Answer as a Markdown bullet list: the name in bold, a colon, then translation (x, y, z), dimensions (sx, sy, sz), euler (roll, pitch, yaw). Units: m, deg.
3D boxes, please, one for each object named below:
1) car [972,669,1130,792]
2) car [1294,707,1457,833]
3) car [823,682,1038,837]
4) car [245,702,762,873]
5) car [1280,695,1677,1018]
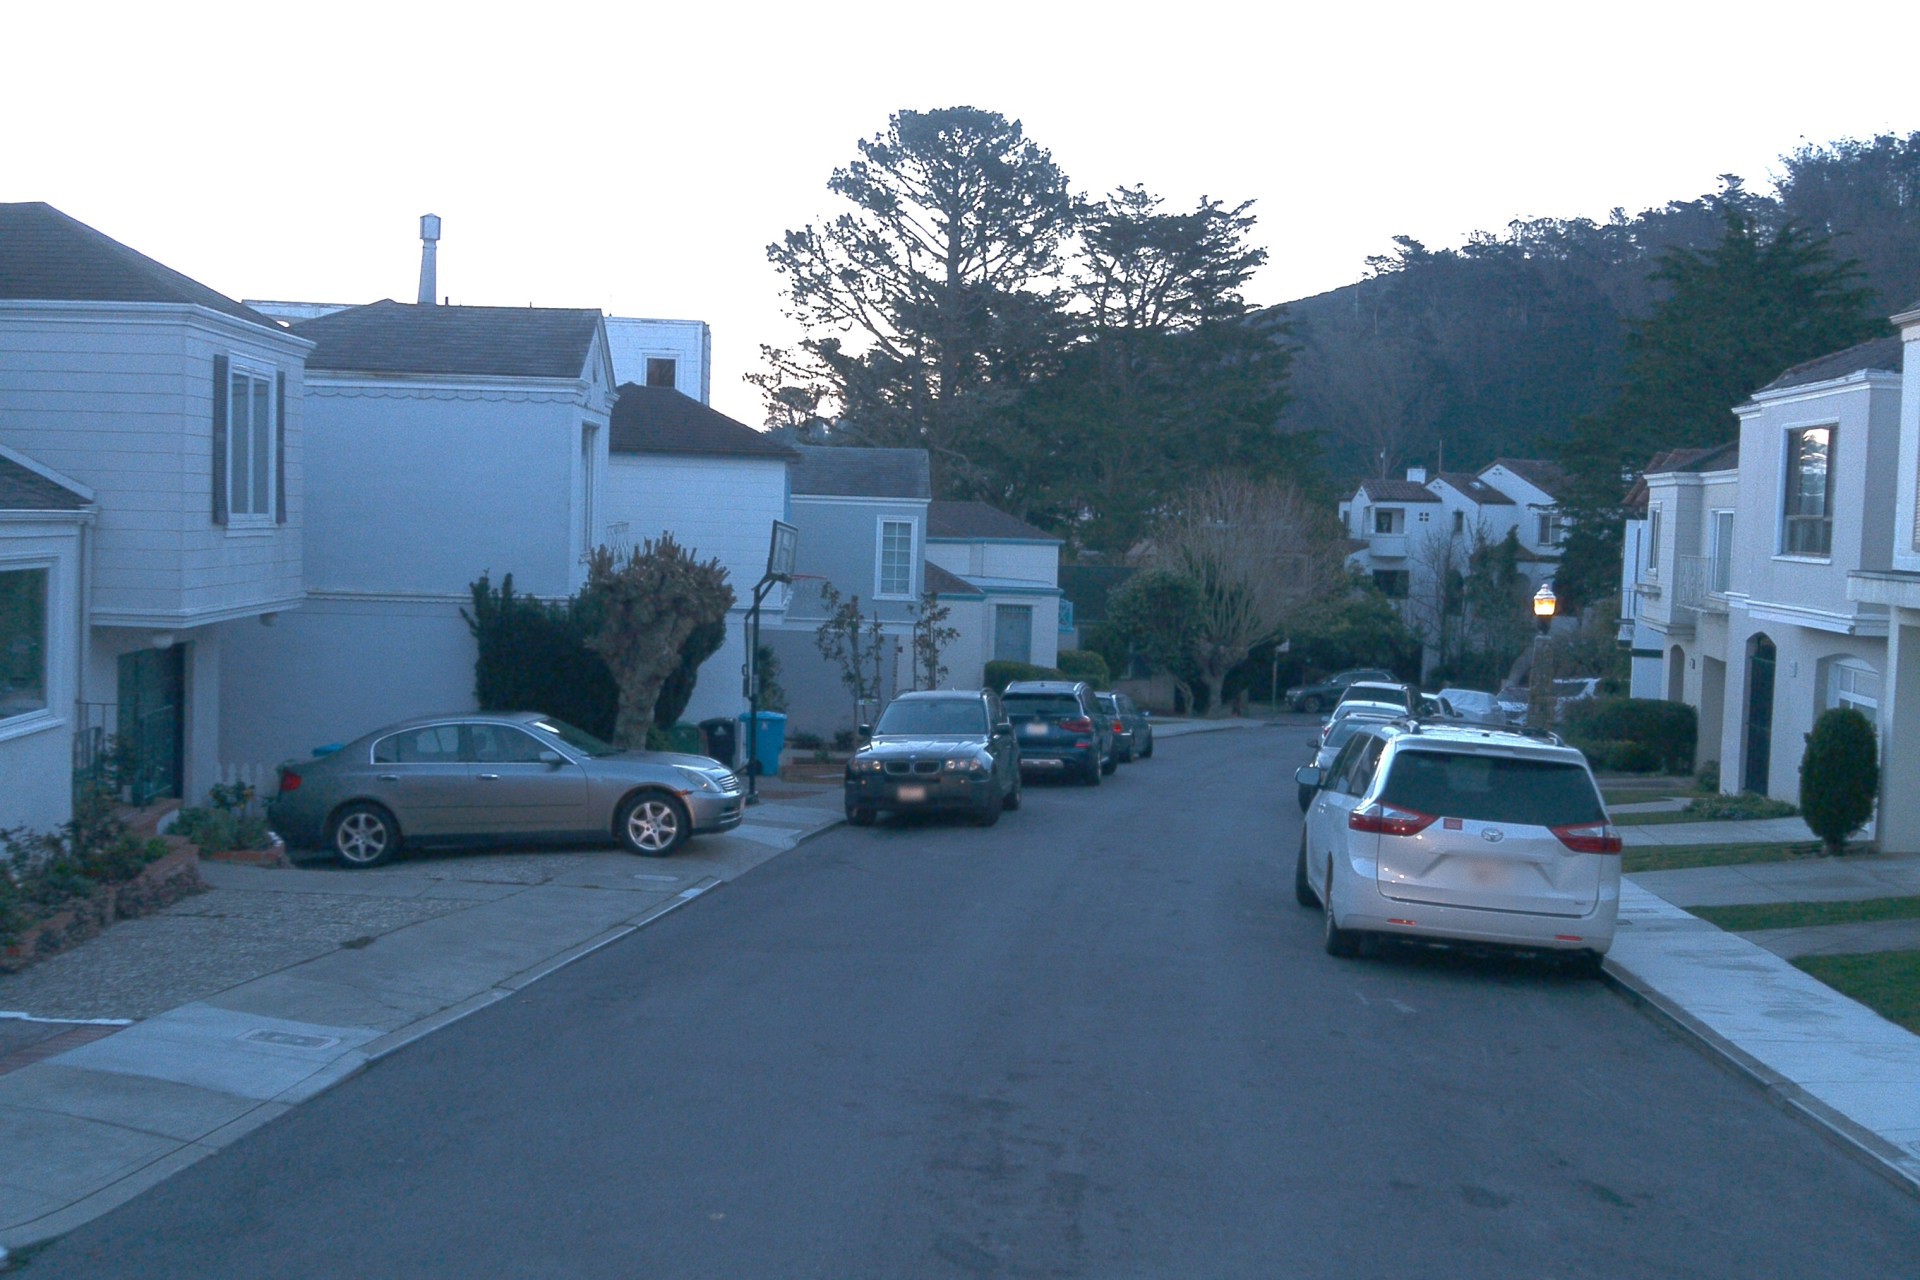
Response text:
- **car**: translation (1.604, 1.439, 34.658), dimensions (2.210, 1.870, 4.683), euler (0, 0, 8)
- **car**: translation (6.029, 1.800, 29.967), dimensions (2.125, 1.520, 4.899), euler (0, 0, 12)
- **car**: translation (-0.271, 1.448, 26.690), dimensions (2.095, 1.740, 4.526), euler (0, 0, 8)
- **car**: translation (-4.512, 1.451, 20.975), dimensions (4.769, 1.580, 1.989), euler (0, 0, 3)
- **car**: translation (3.890, 1.525, 16.553), dimensions (2.376, 2.050, 5.074), euler (0, 0, 6)
